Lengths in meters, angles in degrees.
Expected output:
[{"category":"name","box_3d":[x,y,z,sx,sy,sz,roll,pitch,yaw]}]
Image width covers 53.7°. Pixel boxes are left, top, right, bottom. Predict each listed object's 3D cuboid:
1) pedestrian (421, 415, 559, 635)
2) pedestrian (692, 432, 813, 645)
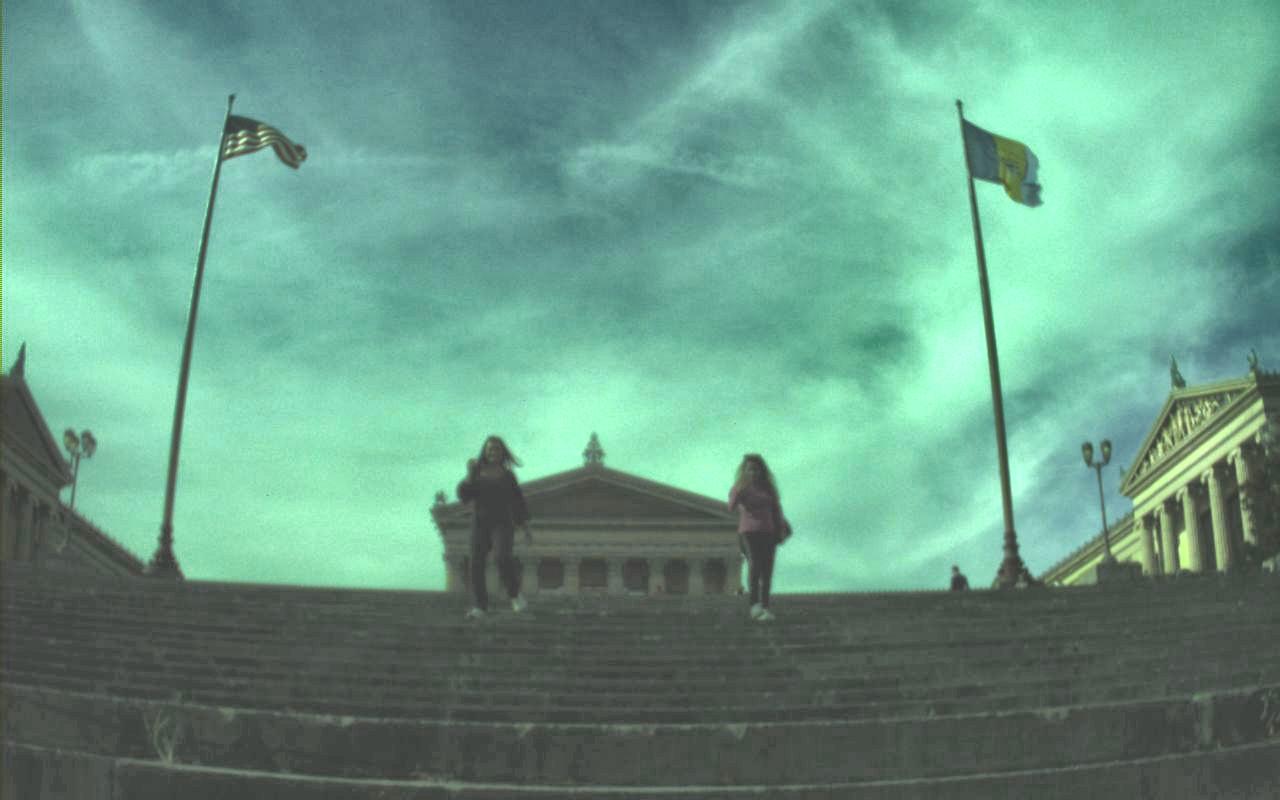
[{"category":"pedestrian","box_3d":[-1.298,1.048,10.859,0.862,1.791,0.901,1,0,23]},{"category":"pedestrian","box_3d":[0.966,1.178,10.910,0.788,1.747,0.815,0,0,-16]}]
